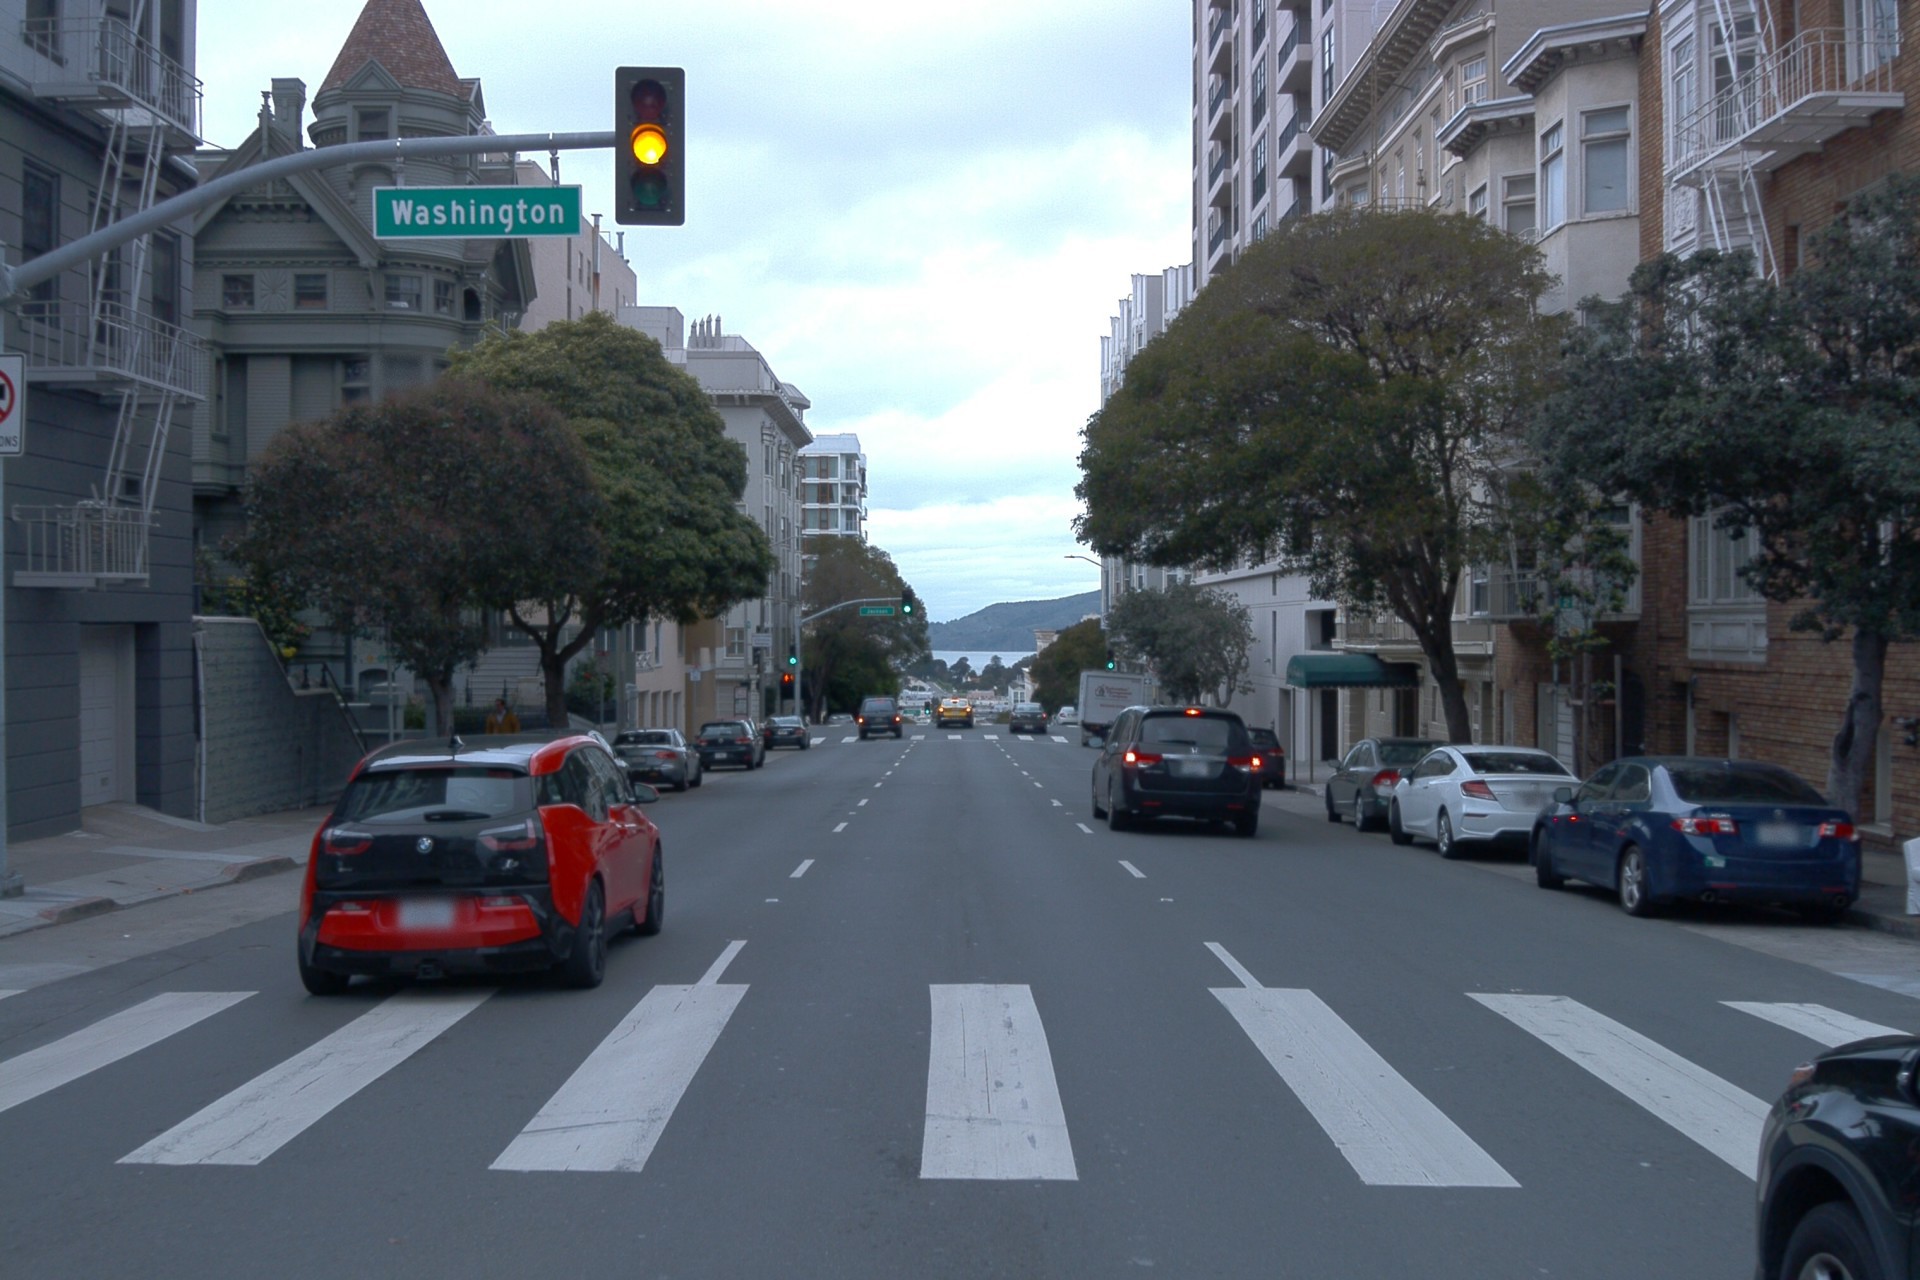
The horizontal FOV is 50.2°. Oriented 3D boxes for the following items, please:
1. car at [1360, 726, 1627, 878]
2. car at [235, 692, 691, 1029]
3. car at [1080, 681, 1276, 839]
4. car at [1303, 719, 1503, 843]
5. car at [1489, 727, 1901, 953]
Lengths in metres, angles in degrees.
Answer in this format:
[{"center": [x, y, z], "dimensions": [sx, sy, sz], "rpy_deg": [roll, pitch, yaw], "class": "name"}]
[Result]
[{"center": [6.708, 2.001, 26.358], "dimensions": [2.110, 1.530, 4.722], "rpy_deg": [0, 0, -1], "class": "car"}, {"center": [-3.105, 1.314, 13.745], "dimensions": [2.065, 1.780, 4.070], "rpy_deg": [0, 1, 0], "class": "car"}, {"center": [2.952, 1.598, 28.934], "dimensions": [2.200, 1.890, 4.938], "rpy_deg": [0, 1, 0], "class": "car"}, {"center": [6.783, 2.131, 31.919], "dimensions": [2.066, 1.560, 4.708], "rpy_deg": [0, 0, 0], "class": "car"}, {"center": [6.751, 1.772, 19.515], "dimensions": [2.139, 1.620, 4.922], "rpy_deg": [0, 0, 0], "class": "car"}]
